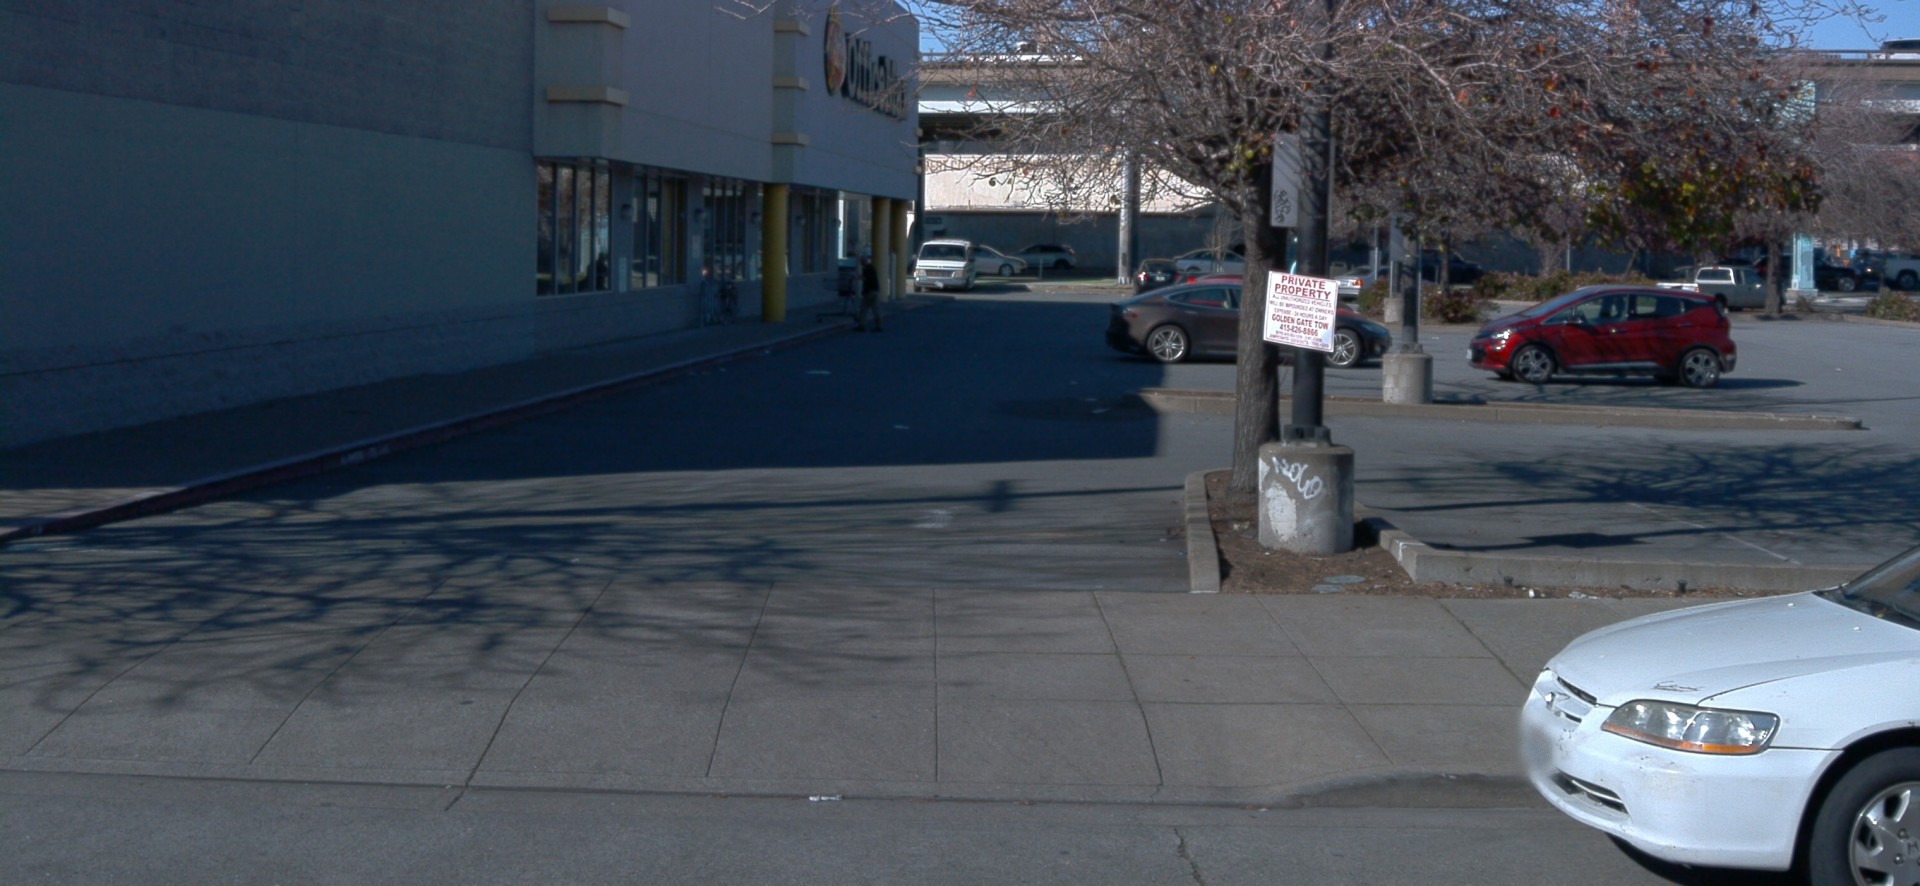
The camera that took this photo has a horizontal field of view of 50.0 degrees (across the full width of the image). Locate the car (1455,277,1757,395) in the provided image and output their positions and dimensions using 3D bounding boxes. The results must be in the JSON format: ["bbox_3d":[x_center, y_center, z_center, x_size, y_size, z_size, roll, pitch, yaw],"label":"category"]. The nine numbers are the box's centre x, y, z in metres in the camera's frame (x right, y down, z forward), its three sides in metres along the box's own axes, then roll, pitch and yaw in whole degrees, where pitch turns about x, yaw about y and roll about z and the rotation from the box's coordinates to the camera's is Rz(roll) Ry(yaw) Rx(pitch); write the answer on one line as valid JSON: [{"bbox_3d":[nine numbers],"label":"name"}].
[{"bbox_3d":[10.203,-1.734,32.740,4.156,1.695,2.038,1,4,2],"label":"car"}]

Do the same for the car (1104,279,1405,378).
[{"bbox_3d":[5.064,-2.032,35.896,5.044,1.525,1.995,1,4,5],"label":"car"}]
